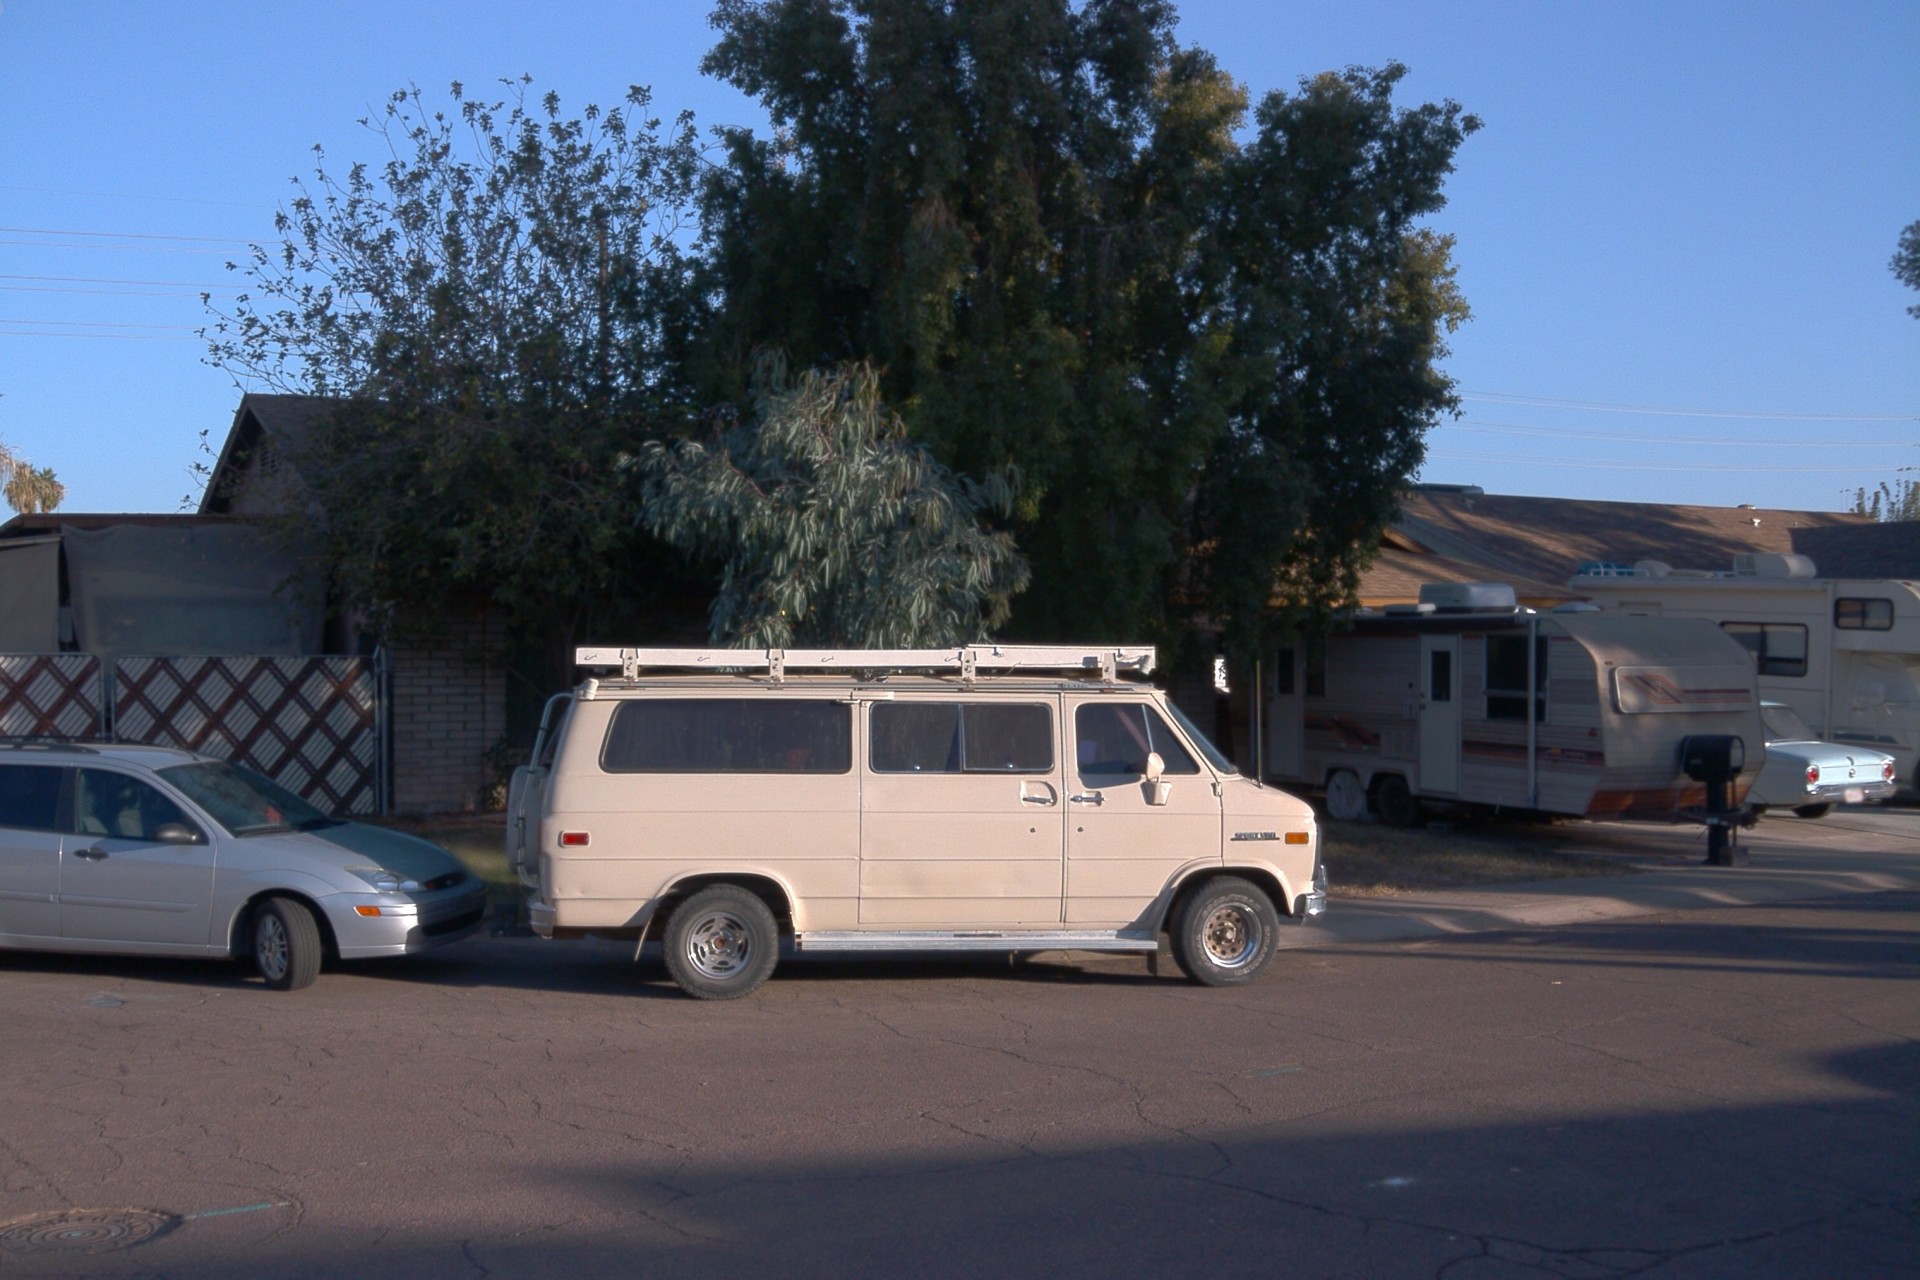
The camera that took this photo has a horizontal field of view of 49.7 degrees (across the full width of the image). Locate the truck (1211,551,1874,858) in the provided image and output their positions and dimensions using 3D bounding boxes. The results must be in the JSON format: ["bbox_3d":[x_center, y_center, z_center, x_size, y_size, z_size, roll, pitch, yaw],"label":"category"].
[{"bbox_3d":[6.090,0.604,23.027,2.746,2.850,7.201,1,0,-30],"label":"truck"}]

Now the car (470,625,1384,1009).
[{"bbox_3d":[-0.265,1.103,13.866,5.593,2.280,2.415,1,0,-8],"label":"car"}]
